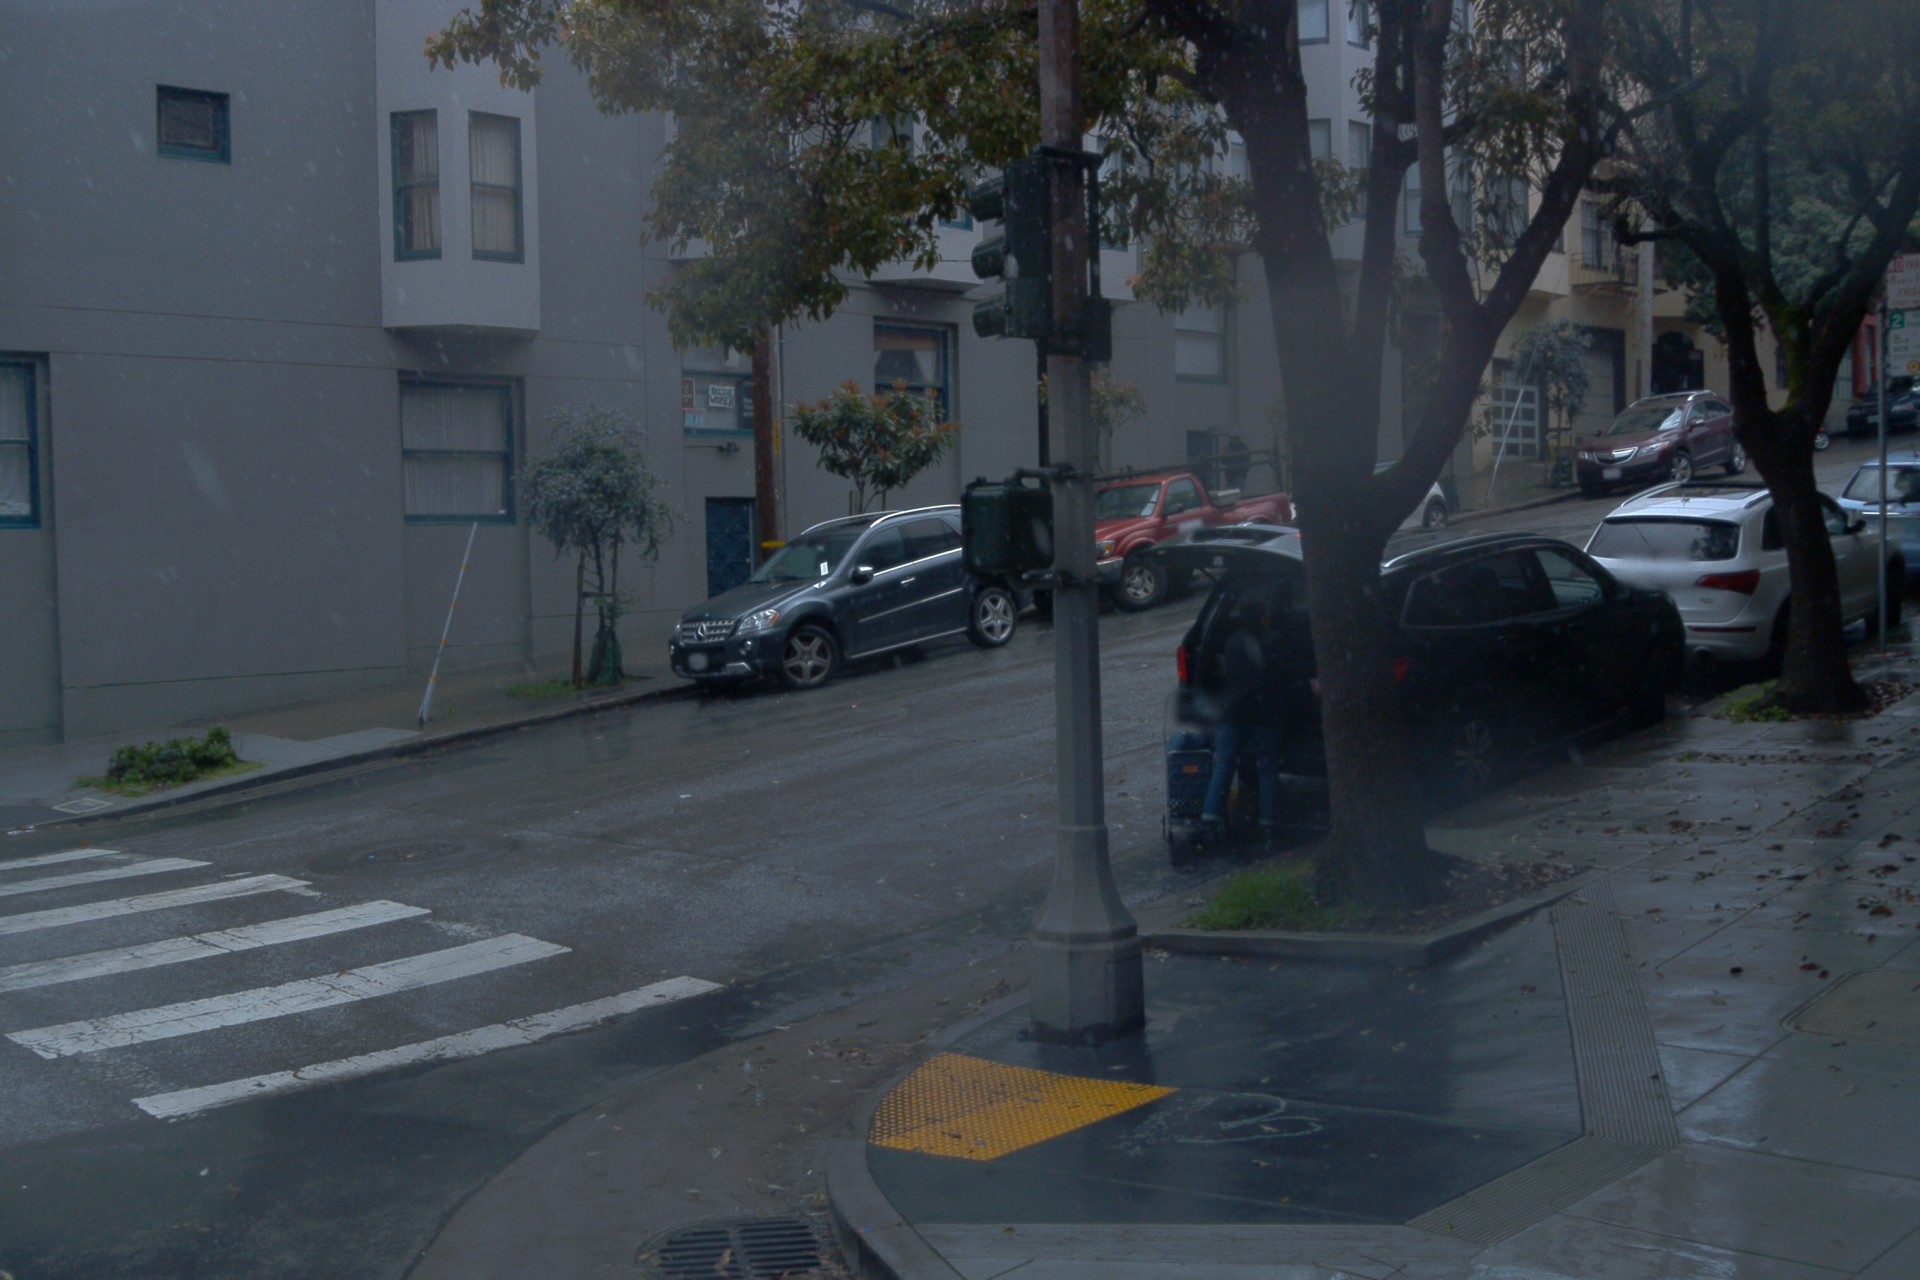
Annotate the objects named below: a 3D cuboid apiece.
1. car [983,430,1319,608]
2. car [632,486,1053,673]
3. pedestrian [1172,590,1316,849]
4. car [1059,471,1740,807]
[{"bbox_3d":[2.727,-1.579,28.433,4.537,2.180,2.259,0,0,-45],"label":"car"},{"bbox_3d":[-1.297,-0.638,24.149,2.225,1.980,4.671,0,0,45],"label":"car"},{"bbox_3d":[1.877,0.501,13.440,0.793,1.634,0.884,0,0,18],"label":"pedestrian"},{"bbox_3d":[3.495,0.002,15.290,2.384,2.040,5.680,0,0,43],"label":"car"}]
